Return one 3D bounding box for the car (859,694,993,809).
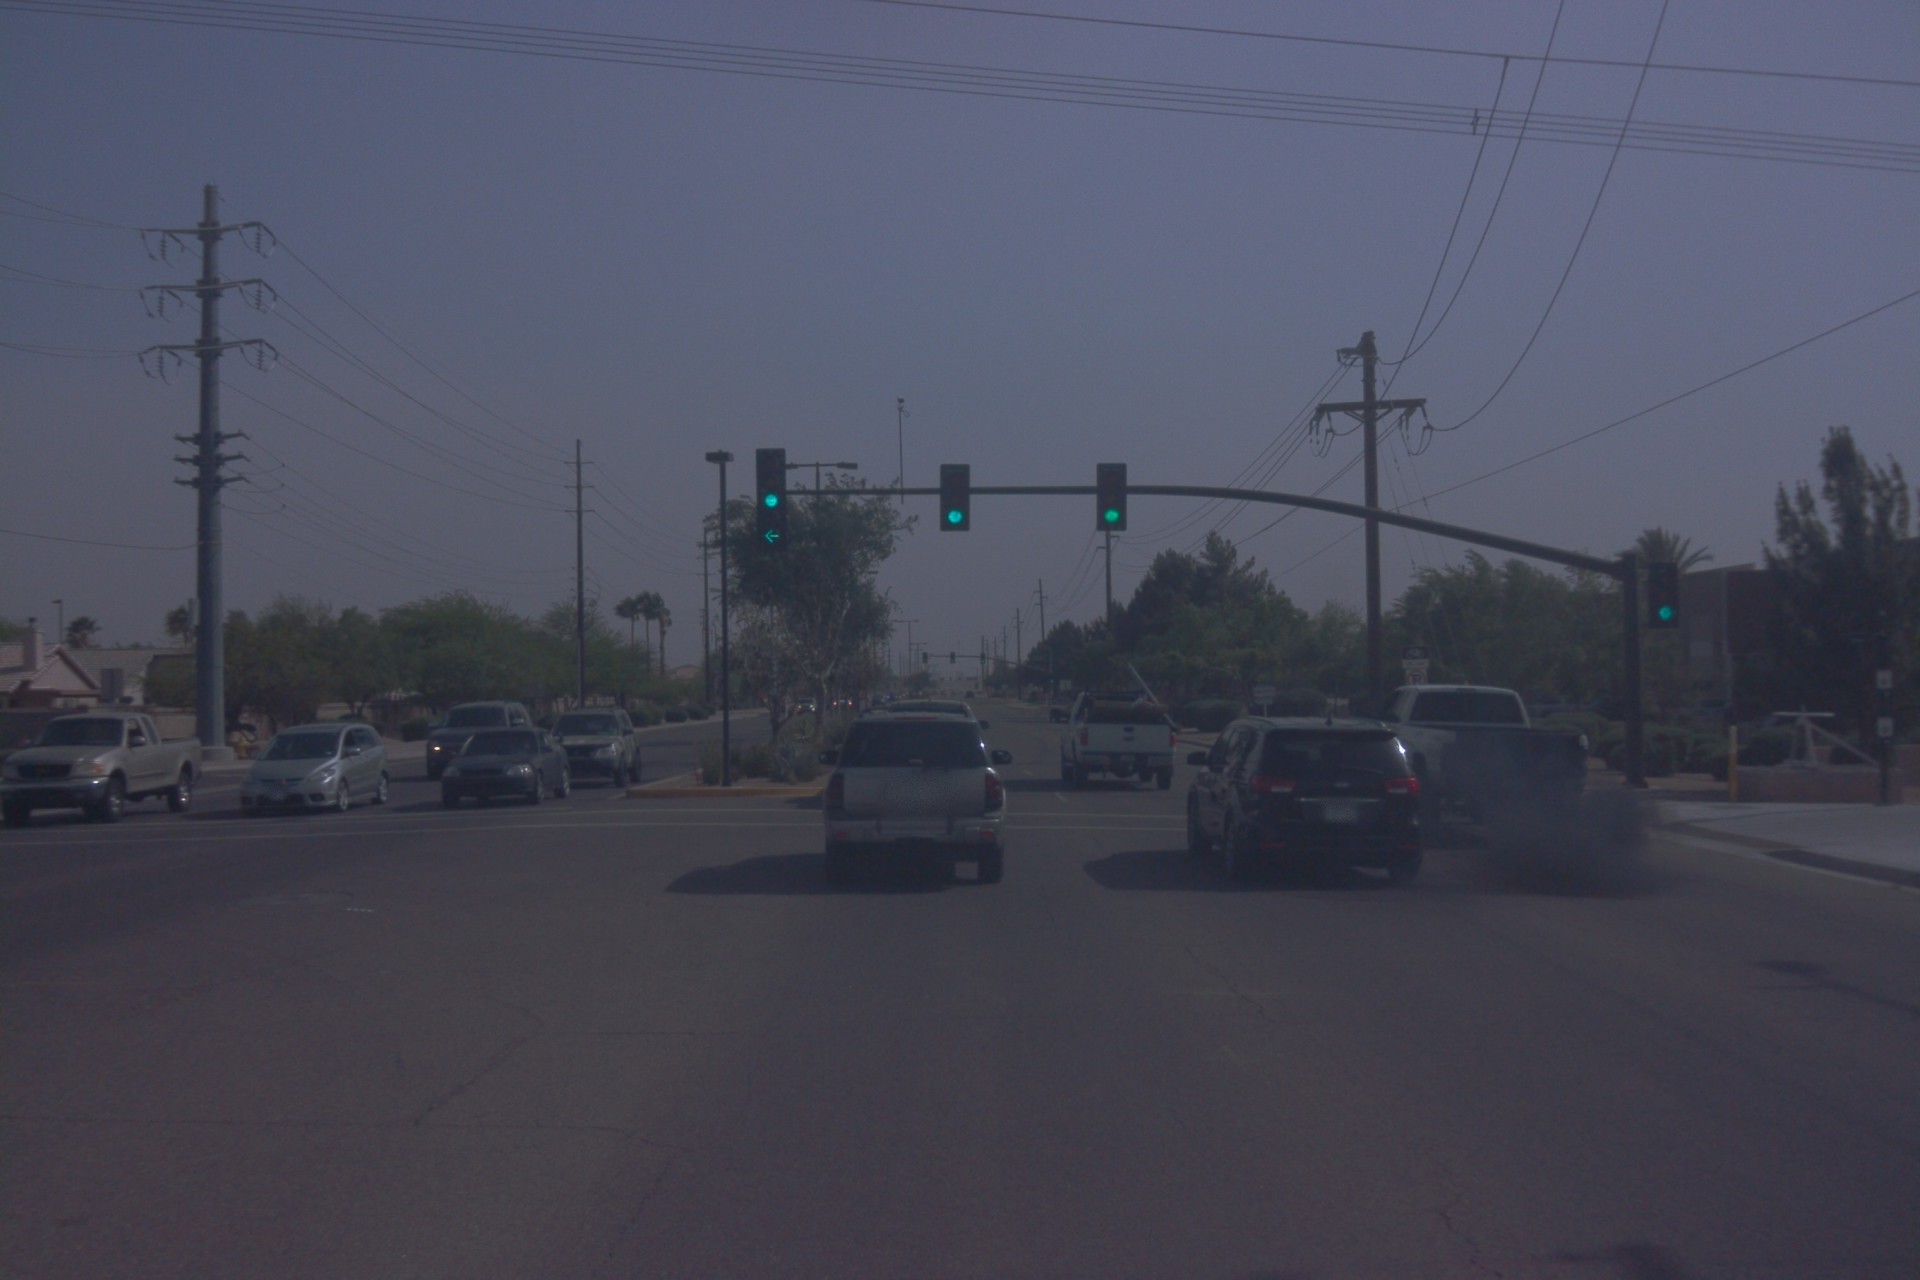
[{"bbox_3d":[-0.562,1.856,35.799,2.149,1.780,4.304,0,-1,0],"label":"car"}]

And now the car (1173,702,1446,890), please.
[{"bbox_3d":[3.783,1.650,23.466,2.145,1.800,4.884,0,-1,-1],"label":"car"}]

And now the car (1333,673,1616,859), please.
[{"bbox_3d":[7.185,1.670,29.974,2.415,2.350,6.496,0,-1,0],"label":"car"}]

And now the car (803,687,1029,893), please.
[{"bbox_3d":[-0.462,1.530,22.820,2.201,1.960,4.684,0,-1,-1],"label":"car"}]
